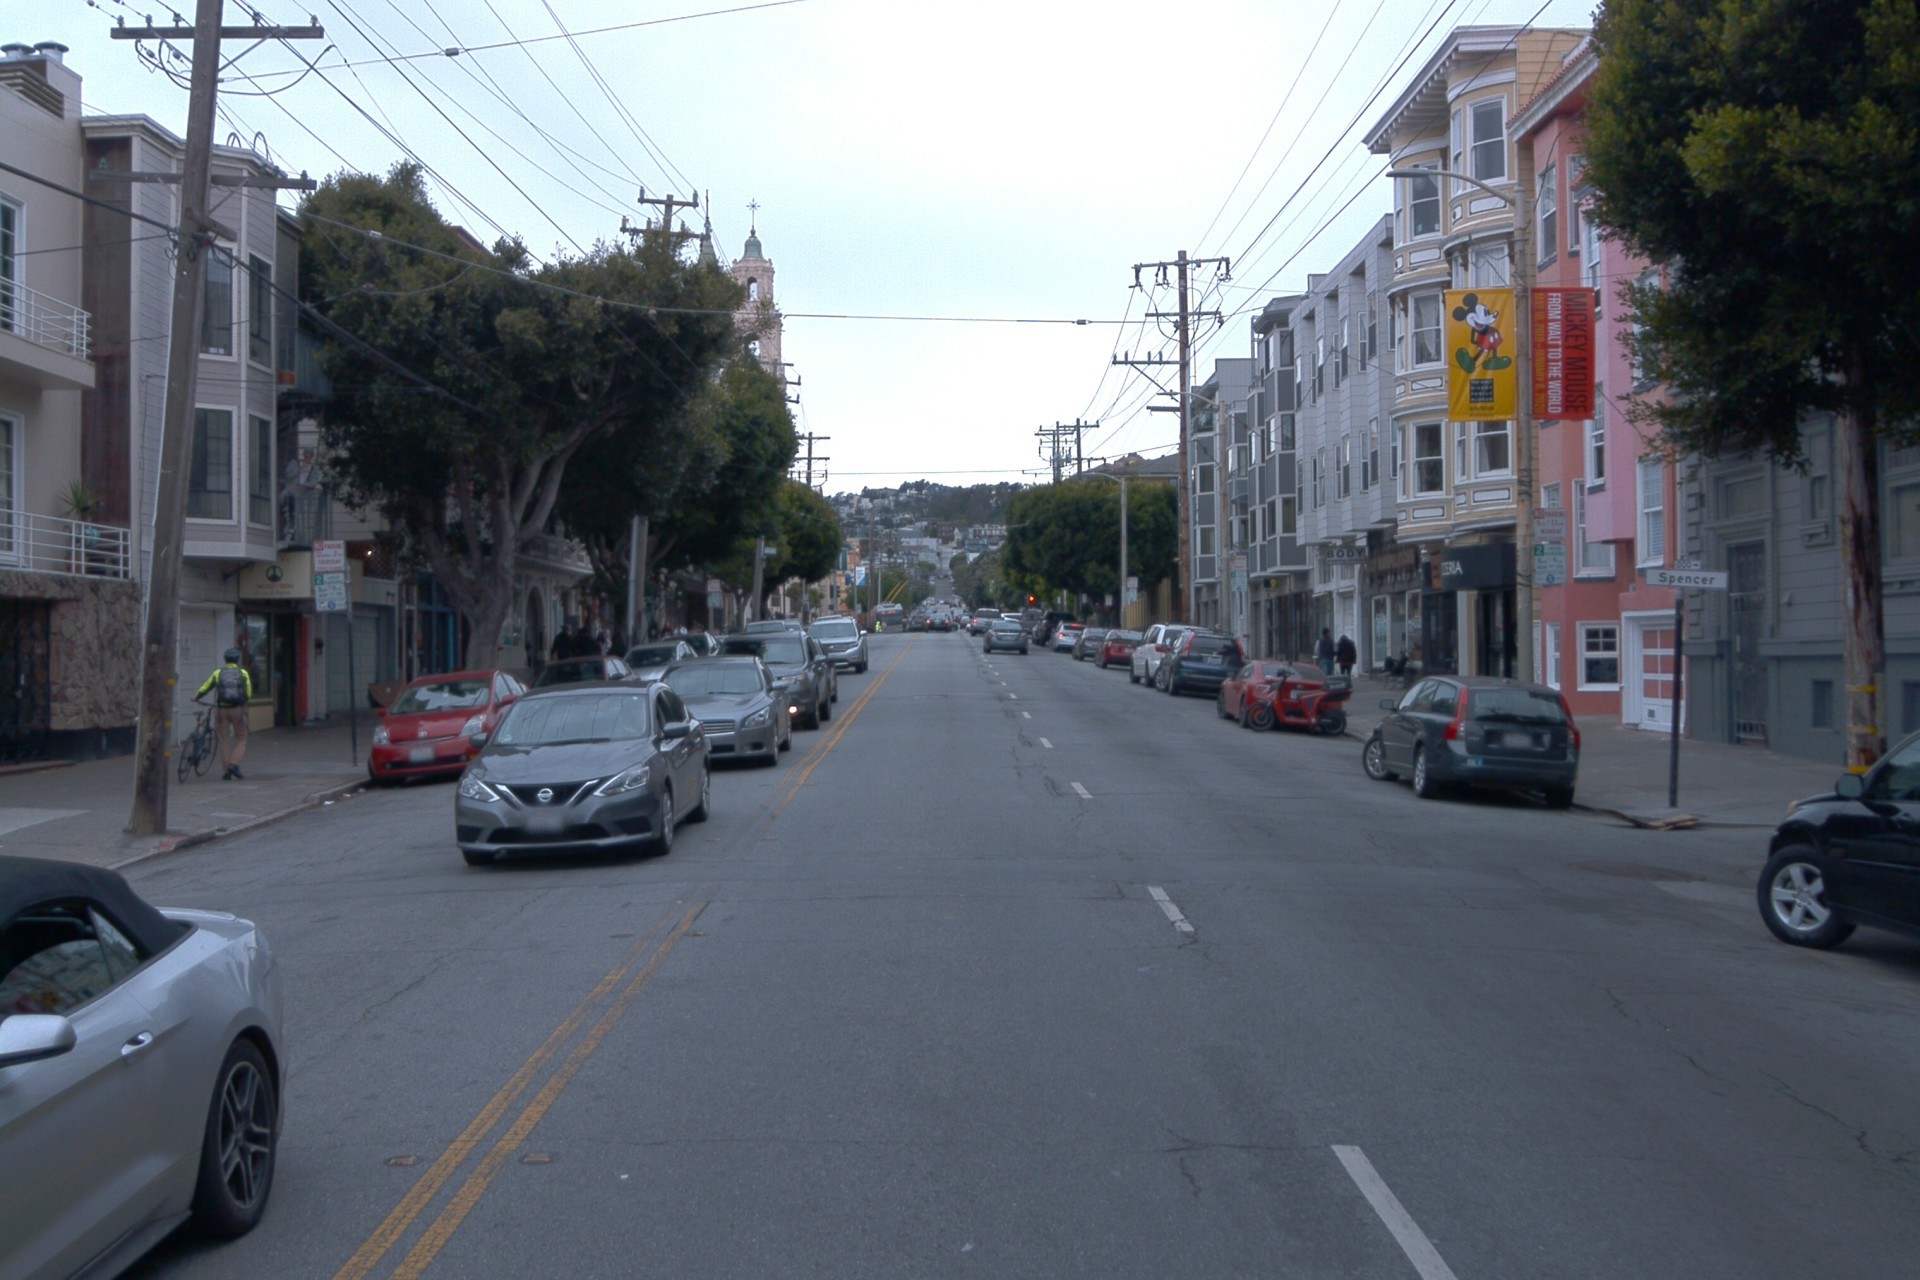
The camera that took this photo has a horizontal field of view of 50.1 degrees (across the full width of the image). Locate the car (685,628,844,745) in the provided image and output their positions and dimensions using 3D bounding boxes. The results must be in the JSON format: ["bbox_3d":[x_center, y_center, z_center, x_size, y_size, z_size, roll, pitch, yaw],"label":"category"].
[{"bbox_3d":[-3.379,0.751,36.468,2.264,1.880,4.792,0,1,1],"label":"car"}]

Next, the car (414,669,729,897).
[{"bbox_3d":[-3.355,1.173,18.706,2.004,1.670,4.656,0,1,0],"label":"car"}]

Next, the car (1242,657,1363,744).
[{"bbox_3d":[6.047,1.060,36.376,2.015,1.490,0.827,0,1,1],"label":"car"}]

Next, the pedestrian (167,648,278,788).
[{"bbox_3d":[-9.892,1.031,27.624,1.124,1.806,1.128,0,1,-4],"label":"pedestrian"}]

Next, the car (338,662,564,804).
[{"bbox_3d":[-7.167,1.257,29.466,2.073,1.750,4.545,0,1,1],"label":"car"}]

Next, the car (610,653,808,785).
[{"bbox_3d":[-3.335,1.014,28.260,2.085,1.550,4.767,0,1,1],"label":"car"}]

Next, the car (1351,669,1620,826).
[{"bbox_3d":[6.232,1.221,24.963,2.070,1.580,4.527,0,1,0],"label":"car"}]
